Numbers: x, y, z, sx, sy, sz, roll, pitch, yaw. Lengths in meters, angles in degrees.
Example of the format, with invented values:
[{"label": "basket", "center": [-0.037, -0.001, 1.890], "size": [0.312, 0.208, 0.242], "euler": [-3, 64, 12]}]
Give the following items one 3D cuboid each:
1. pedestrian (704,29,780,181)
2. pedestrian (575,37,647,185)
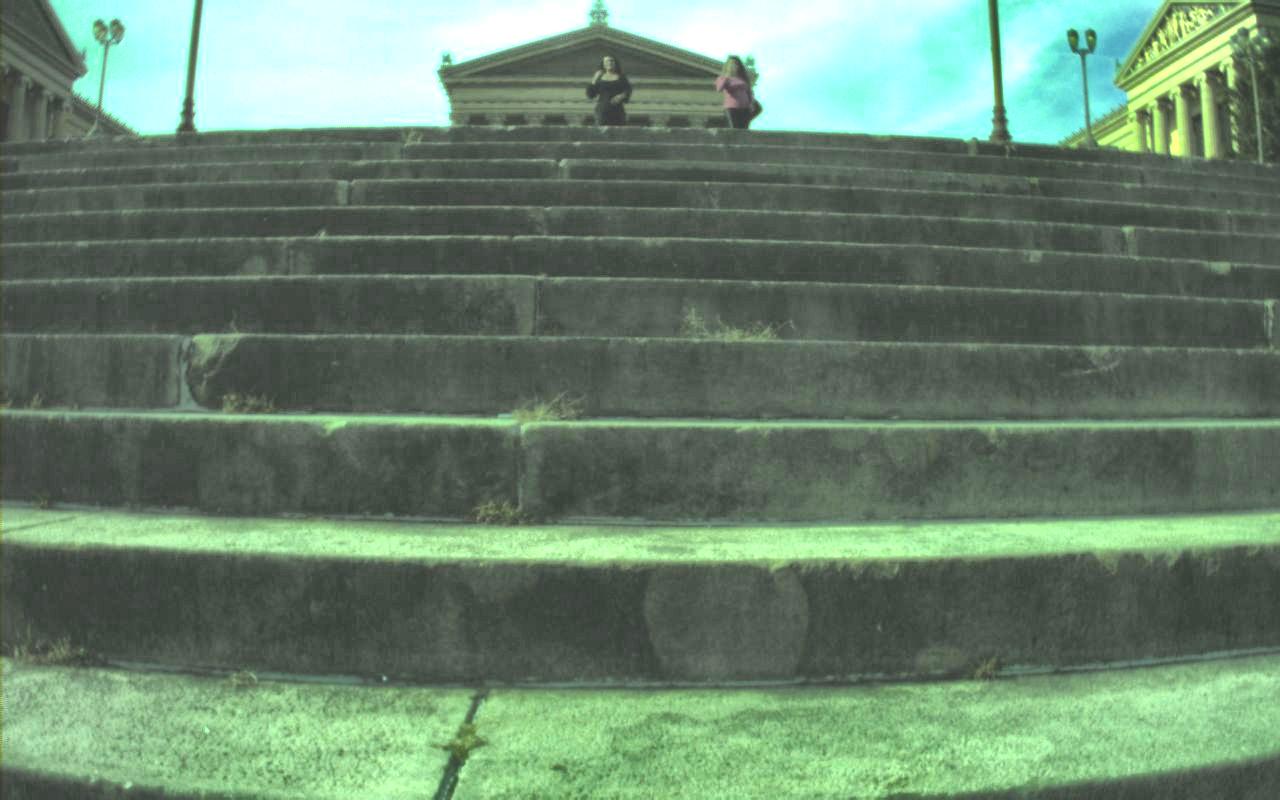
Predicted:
[{"label": "pedestrian", "center": [1.259, -3.658, 15.468], "size": [0.761, 1.759, 0.776], "euler": [0, 0, -11]}, {"label": "pedestrian", "center": [-0.364, -3.728, 16.112], "size": [0.769, 1.806, 0.790], "euler": [0, 0, 9]}]
